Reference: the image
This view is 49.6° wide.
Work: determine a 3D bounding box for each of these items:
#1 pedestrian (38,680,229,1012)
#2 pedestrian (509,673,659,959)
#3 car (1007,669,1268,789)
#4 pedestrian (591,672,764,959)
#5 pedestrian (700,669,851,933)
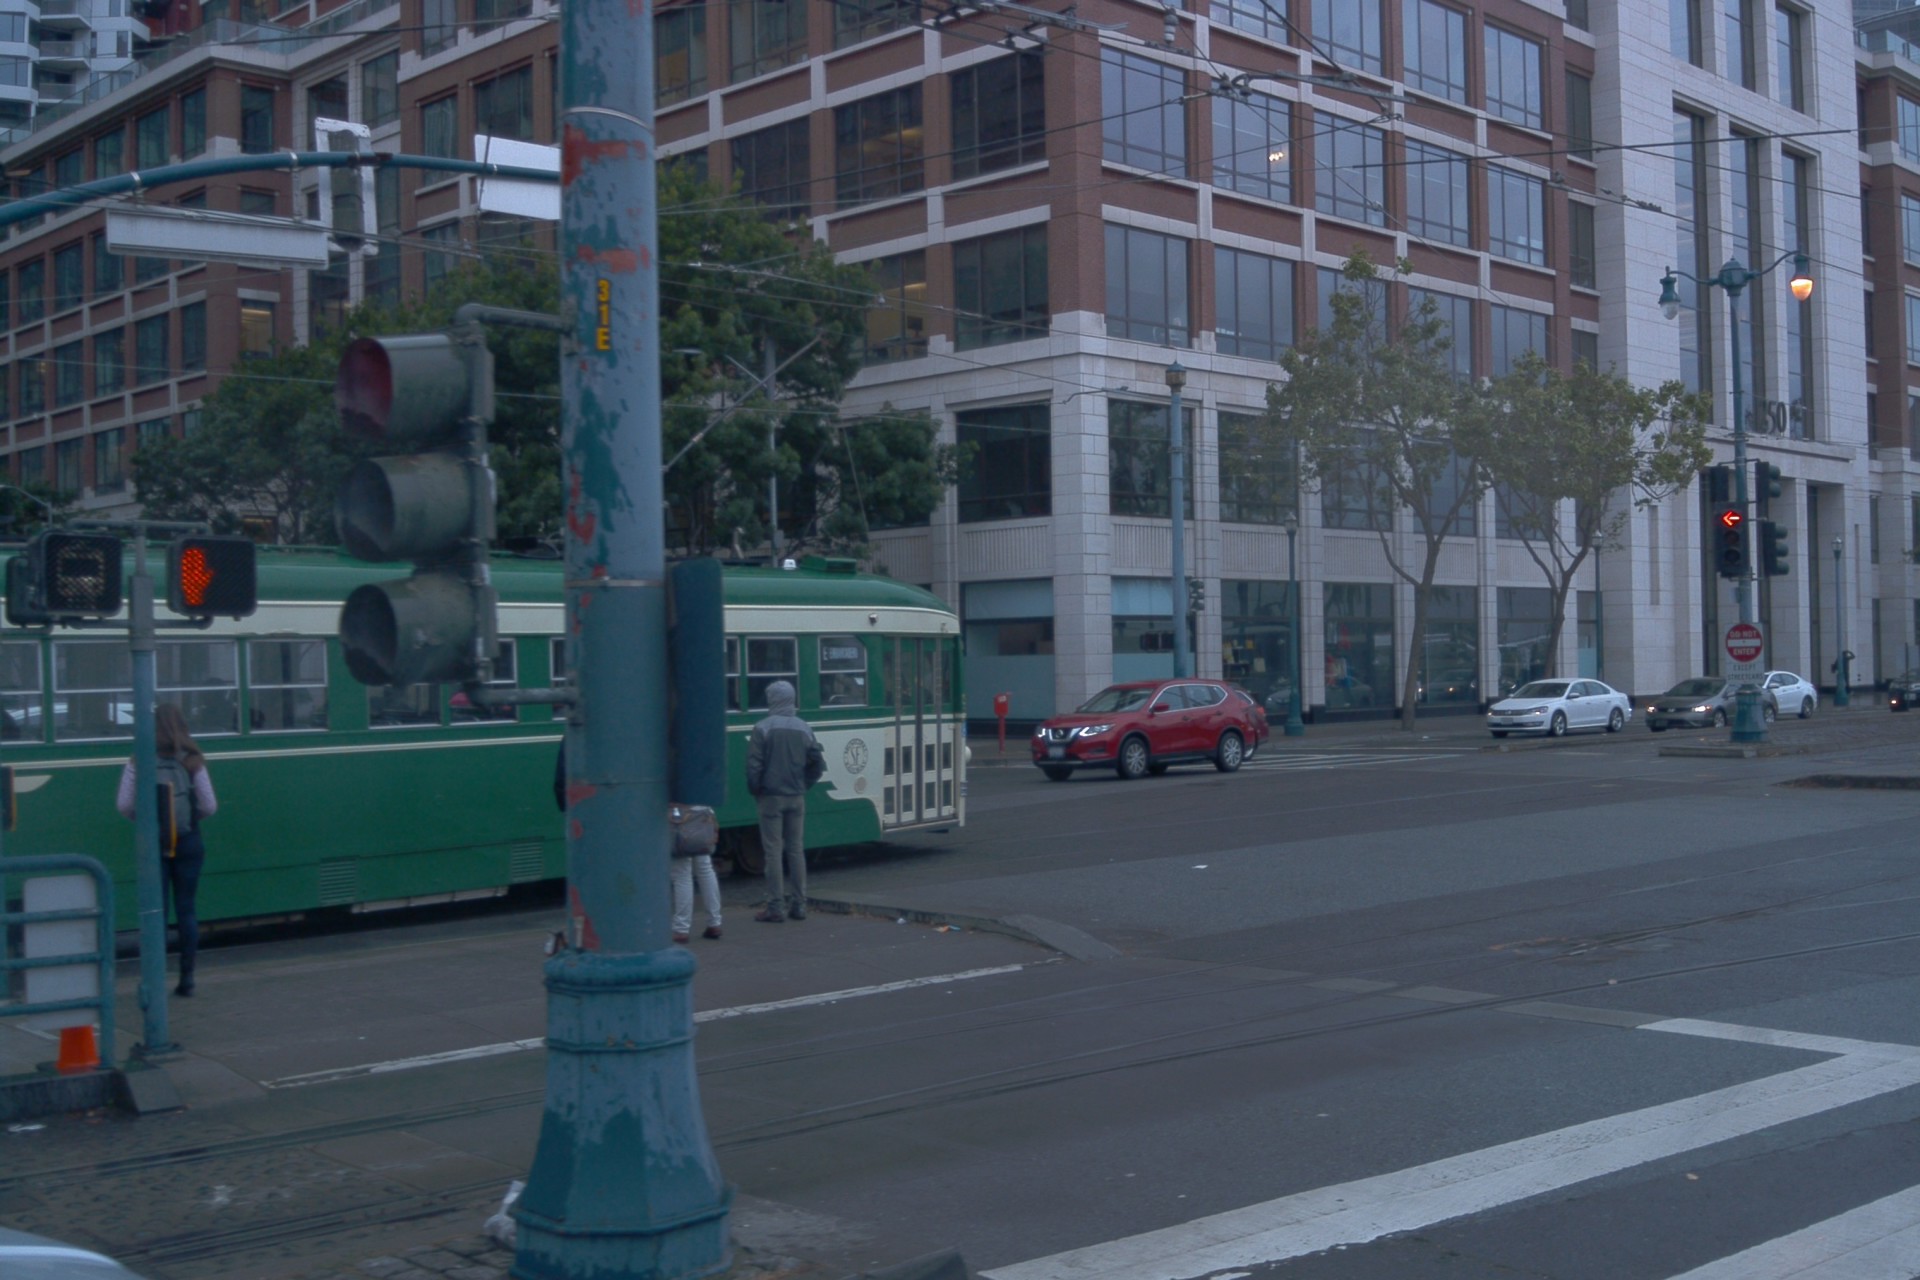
[{"bbox_3d":[-4.880,1.170,12.272,0.852,1.840,0.831,0,0,-37],"label":"pedestrian"},{"bbox_3d":[-2.613,1.200,14.540,0.818,1.920,0.885,0,0,5],"label":"pedestrian"},{"bbox_3d":[3.101,1.458,35.592,1.987,1.850,4.700,0,0,43],"label":"car"},{"bbox_3d":[-1.993,1.194,14.666,0.878,1.920,0.851,0,0,-43],"label":"pedestrian"},{"bbox_3d":[-1.413,1.192,15.857,0.876,1.920,0.852,0,0,-30],"label":"pedestrian"}]
